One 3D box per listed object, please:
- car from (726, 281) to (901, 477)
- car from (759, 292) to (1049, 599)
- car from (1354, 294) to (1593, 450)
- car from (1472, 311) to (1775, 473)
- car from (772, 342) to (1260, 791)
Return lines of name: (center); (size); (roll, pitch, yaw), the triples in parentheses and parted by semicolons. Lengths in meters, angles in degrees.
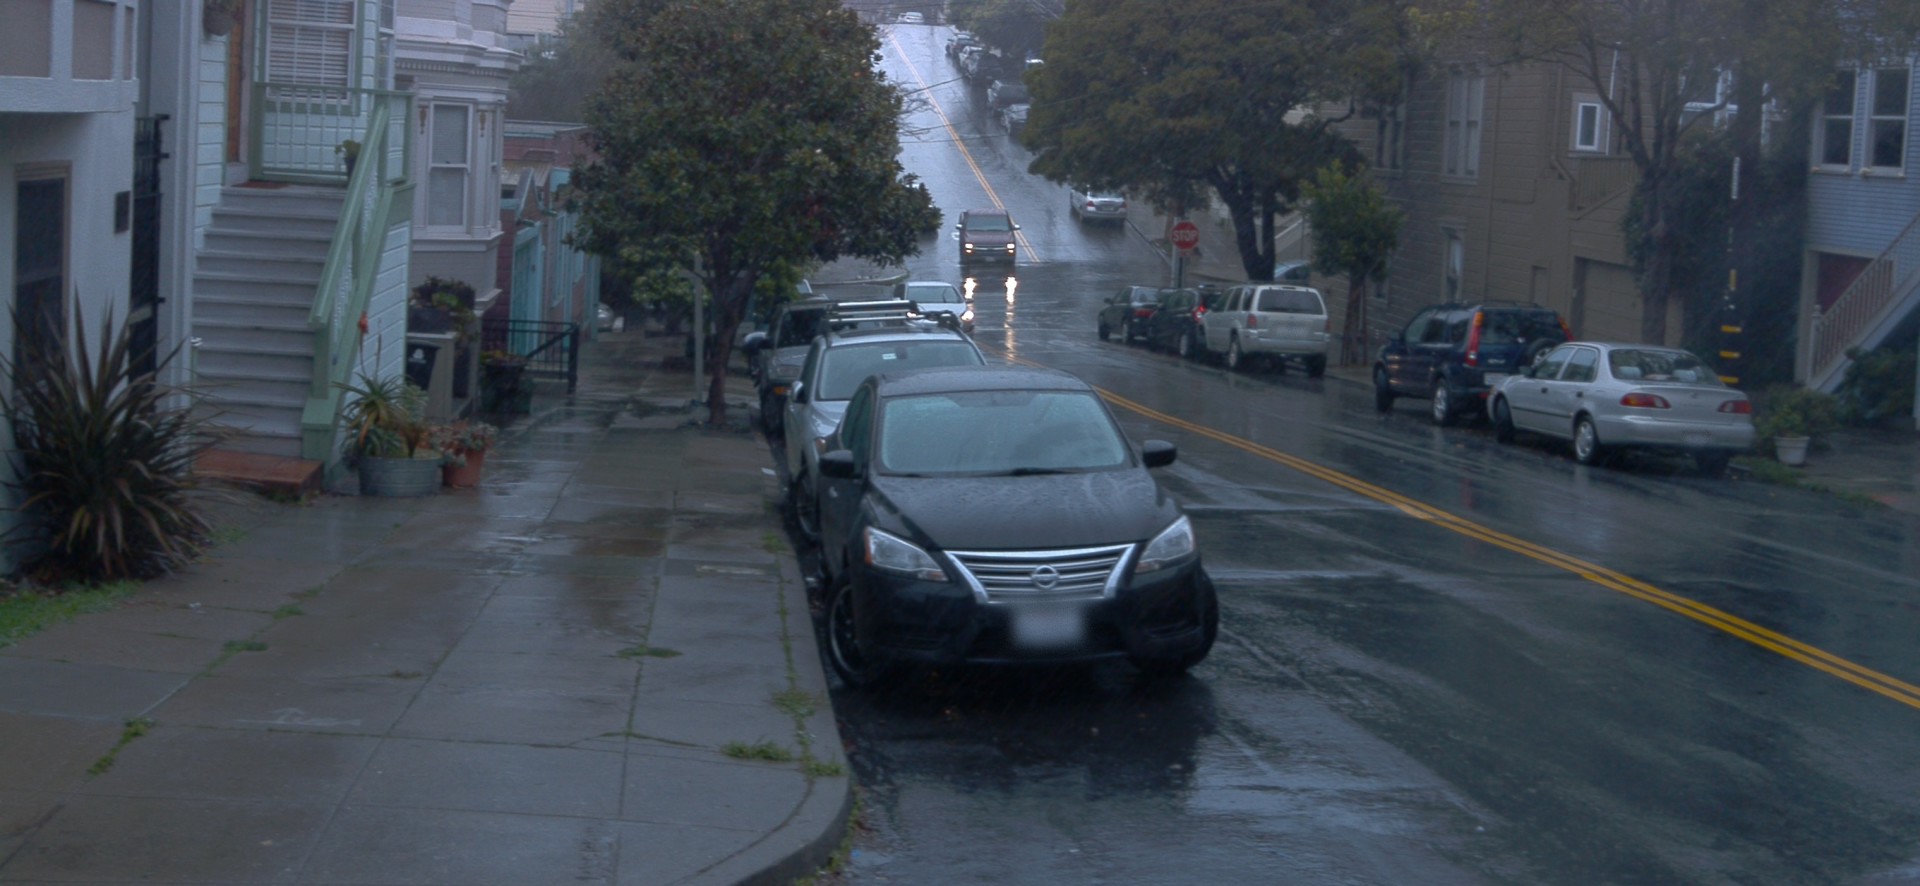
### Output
car: (-2.023, -0.964, 27.102); (2.075, 2.139, 5.245); (0, 6, -6)
car: (-0.595, -0.145, 16.584); (1.848, 1.971, 4.259); (0, 6, -8)
car: (7.084, -1.070, 28.749); (1.886, 1.841, 4.197); (0, 6, -7)
car: (7.517, -0.674, 23.695); (1.674, 1.482, 4.288); (0, 6, -7)
car: (0.056, 0.434, 11.491); (2.061, 1.691, 4.592); (0, 6, -7)
